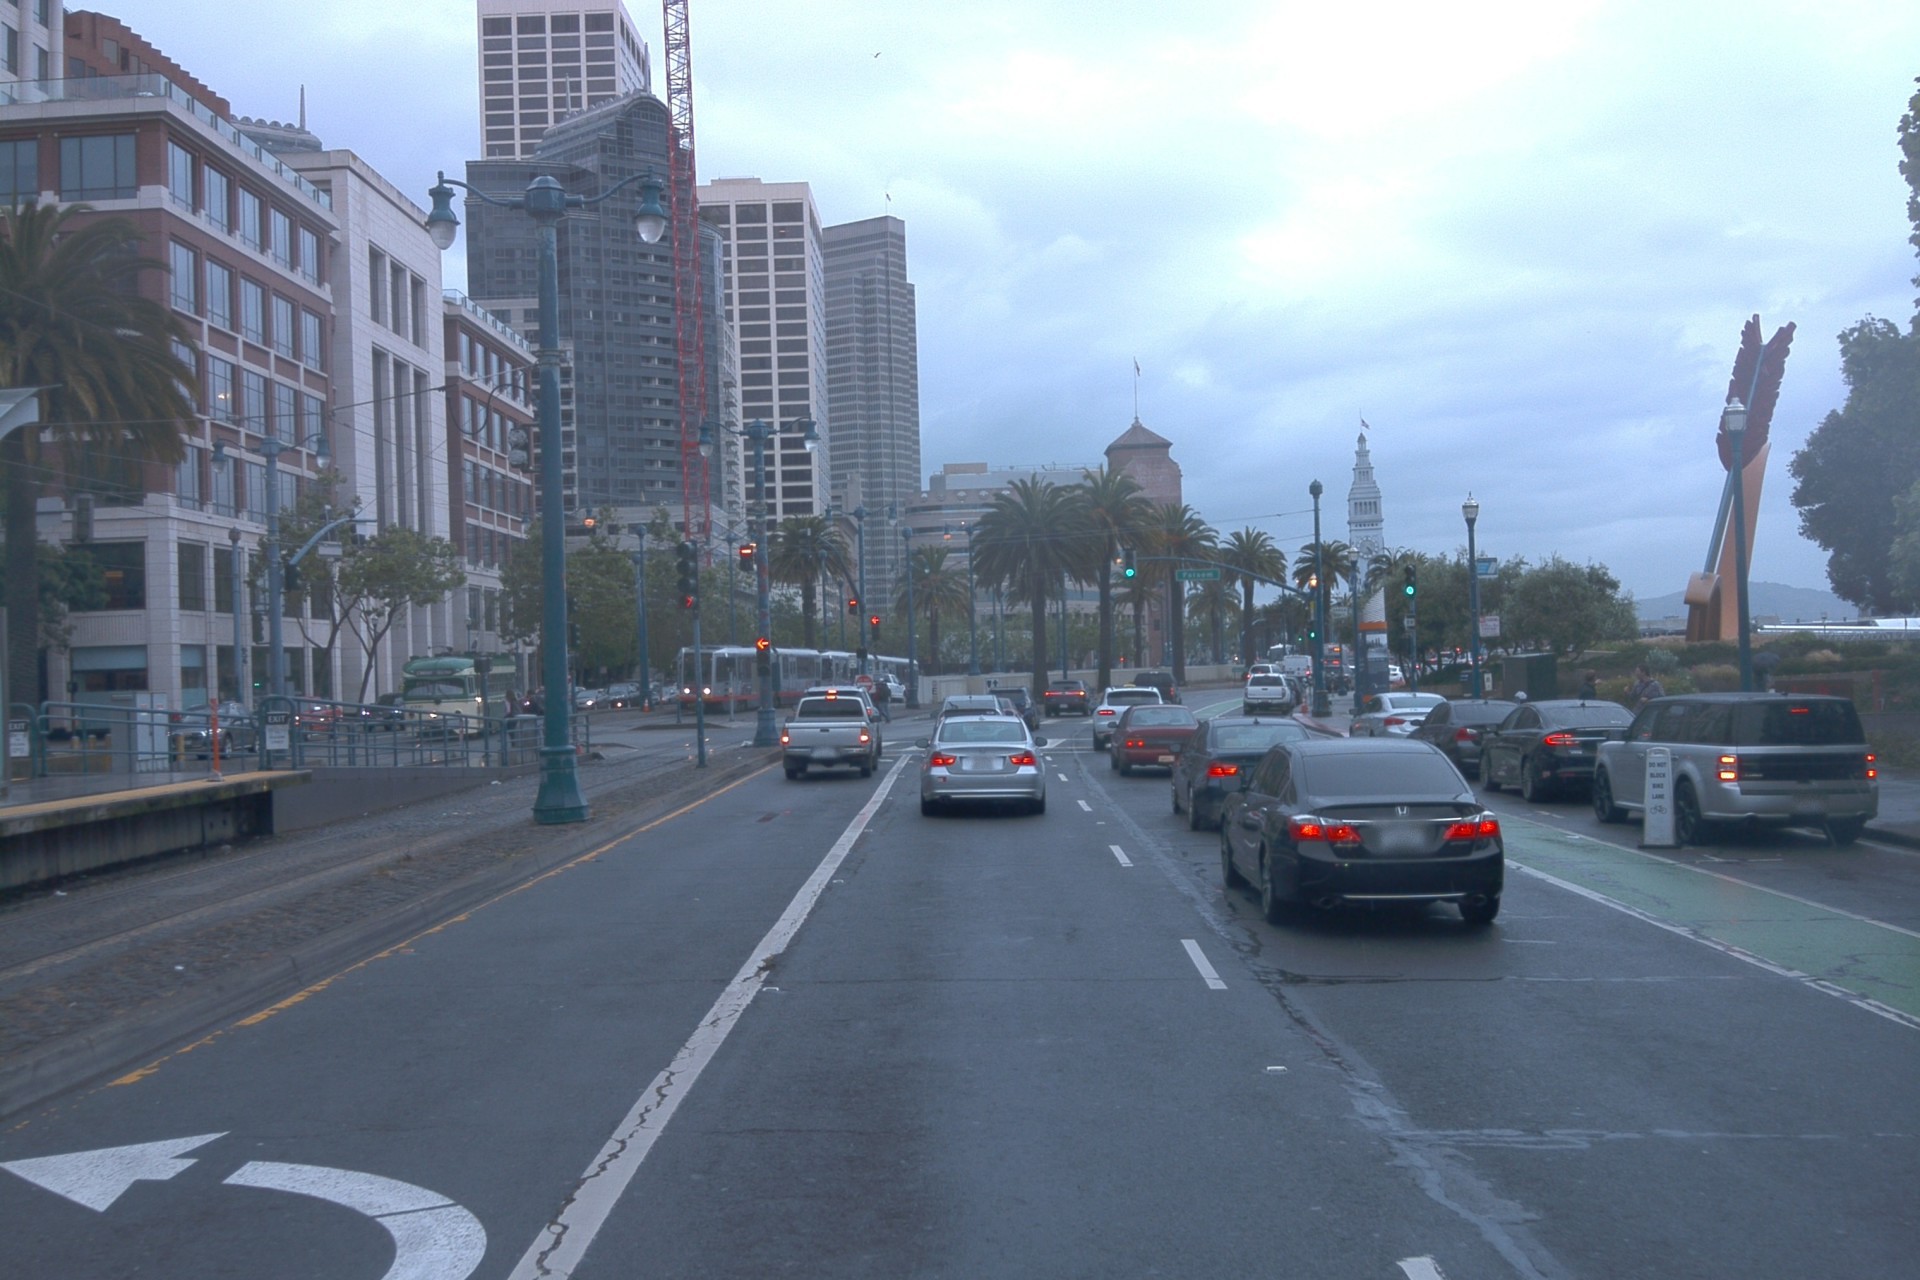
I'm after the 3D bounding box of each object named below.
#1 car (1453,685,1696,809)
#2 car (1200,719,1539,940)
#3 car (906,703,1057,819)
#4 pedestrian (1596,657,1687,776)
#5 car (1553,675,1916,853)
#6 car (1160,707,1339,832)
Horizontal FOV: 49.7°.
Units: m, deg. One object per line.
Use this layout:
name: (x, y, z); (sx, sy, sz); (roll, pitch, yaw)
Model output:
car: (9.230, 1.563, 31.628); (2.329, 1.710, 4.832); (0, -1, 1)
car: (3.331, 1.503, 17.829); (2.069, 1.540, 4.627); (0, -1, 1)
car: (0.326, 1.732, 30.827); (2.067, 1.510, 4.625); (0, -1, 1)
pedestrian: (12.004, 1.332, 36.559); (1.058, 2.050, 1.160); (0, -1, -12)
car: (9.045, 1.371, 24.829); (2.331, 1.890, 5.290); (0, -1, -1)
car: (3.751, 1.653, 27.554); (1.869, 1.450, 4.344); (0, -1, 1)
